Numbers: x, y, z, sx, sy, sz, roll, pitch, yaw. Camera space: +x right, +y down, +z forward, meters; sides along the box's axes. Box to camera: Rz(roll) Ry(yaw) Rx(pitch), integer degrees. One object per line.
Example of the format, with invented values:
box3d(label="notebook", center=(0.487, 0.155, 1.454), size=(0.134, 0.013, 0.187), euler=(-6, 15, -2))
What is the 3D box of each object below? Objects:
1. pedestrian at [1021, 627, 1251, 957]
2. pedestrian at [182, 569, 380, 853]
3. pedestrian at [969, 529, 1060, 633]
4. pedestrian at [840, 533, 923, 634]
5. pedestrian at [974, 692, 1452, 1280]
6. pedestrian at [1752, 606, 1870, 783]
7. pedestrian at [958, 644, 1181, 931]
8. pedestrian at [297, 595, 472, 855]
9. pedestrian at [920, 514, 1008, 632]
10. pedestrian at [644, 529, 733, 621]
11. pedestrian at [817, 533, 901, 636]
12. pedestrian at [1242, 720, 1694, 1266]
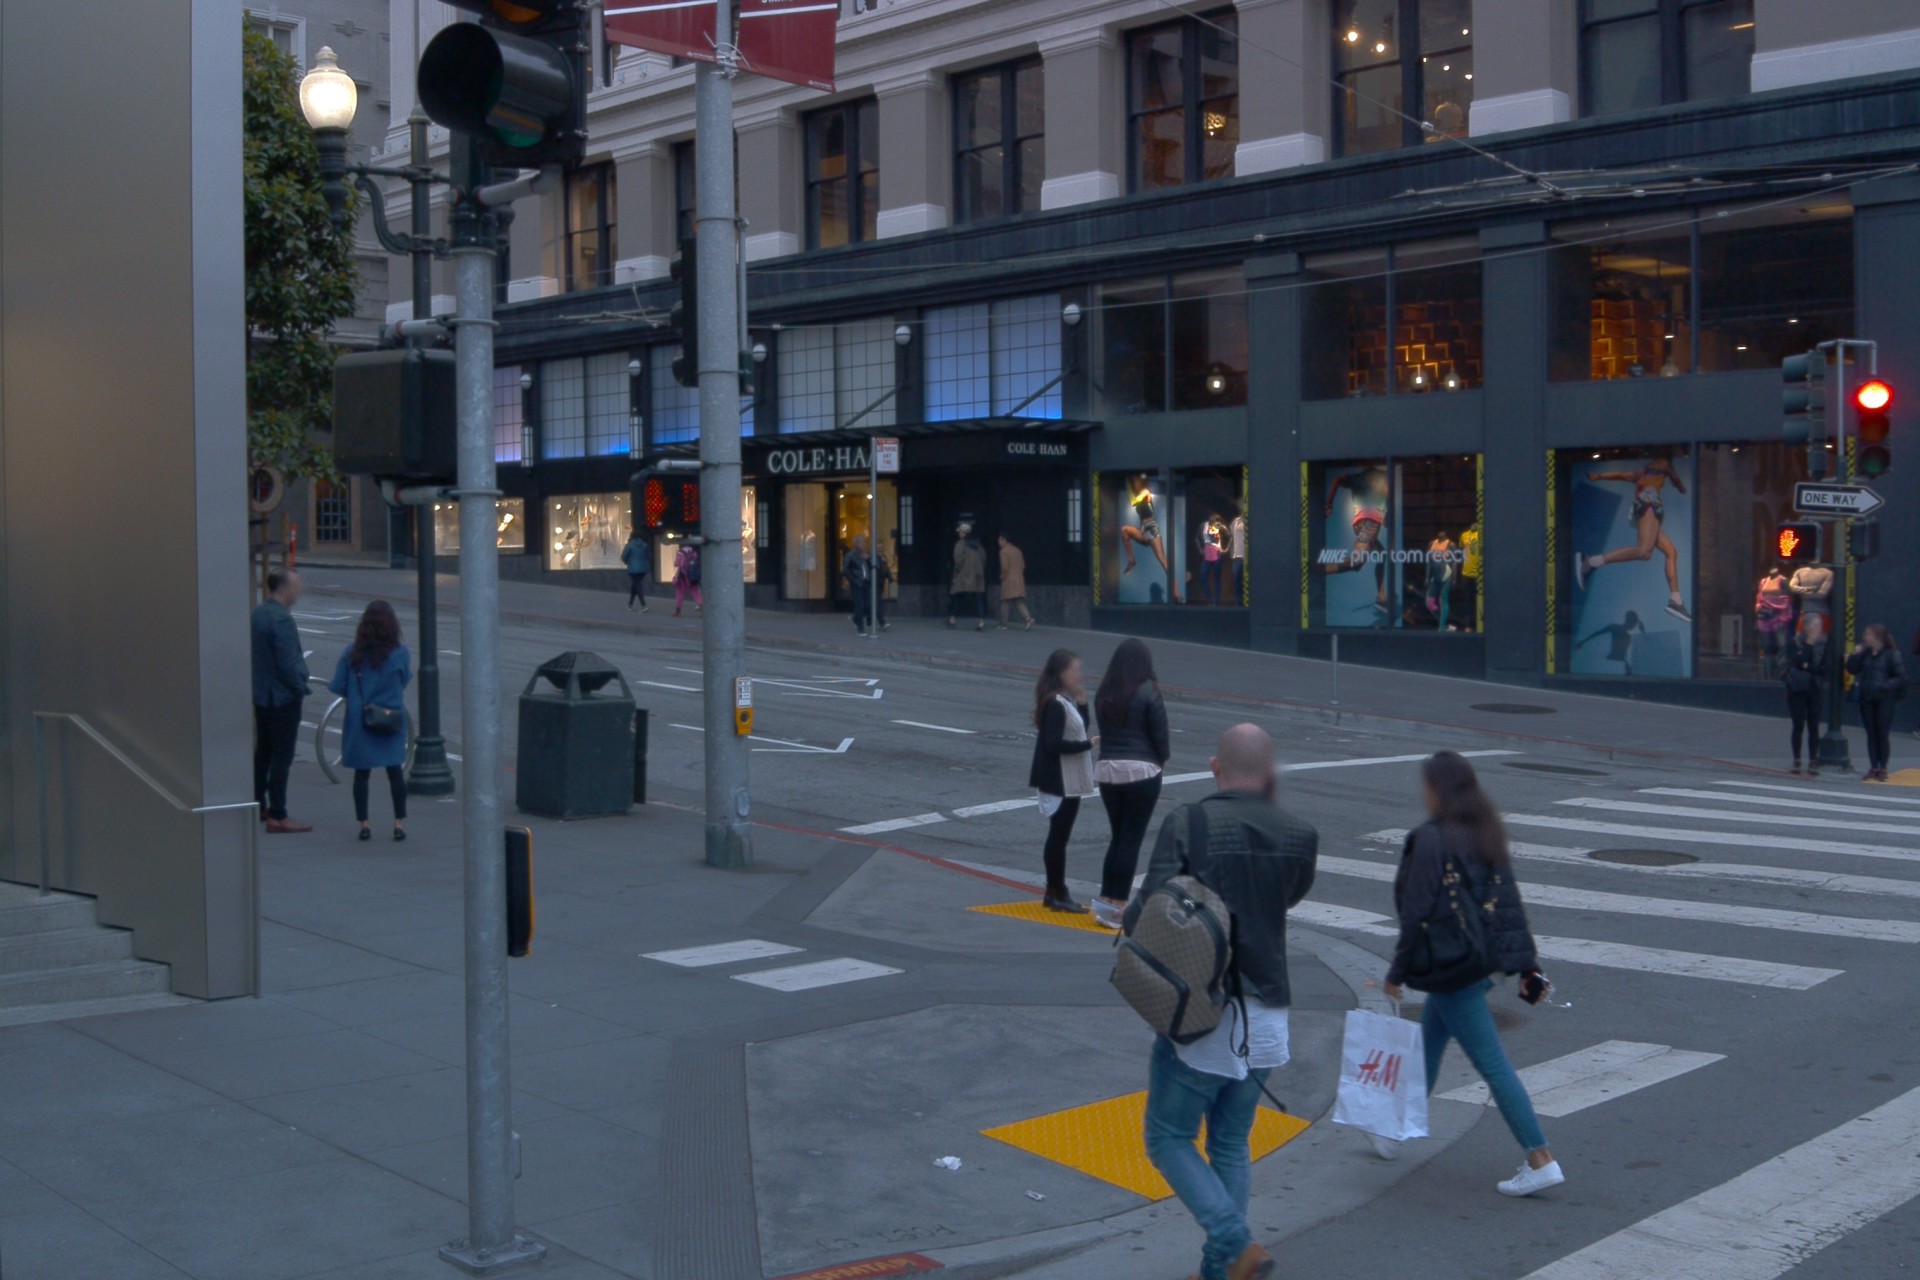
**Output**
box3d(label="pedestrian", center=(1.061, 0.868, 12.407), size=(1.113, 1.890, 0.813), euler=(0, 1, -32))
box3d(label="pedestrian", center=(-4.896, 0.482, 14.797), size=(0.981, 1.960, 0.939), euler=(1, 1, 29))
box3d(label="pedestrian", center=(0.911, -0.978, 34.348), size=(1.053, 1.700, 1.109), euler=(0, 1, -40))
box3d(label="pedestrian", center=(-1.309, -0.929, 34.110), size=(0.891, 1.650, 1.047), euler=(-1, 1, -45))
box3d(label="pedestrian", center=(0.691, 1.089, 5.928), size=(0.930, 1.820, 1.123), euler=(0, 1, -23))
box3d(label="pedestrian", center=(8.945, 0.542, 21.527), size=(0.895, 1.800, 1.088), euler=(1, 1, 36))
box3d(label="pedestrian", center=(0.694, 0.892, 13.077), size=(1.003, 1.710, 0.997), euler=(0, 1, -39))
box3d(label="pedestrian", center=(-4.034, 0.562, 14.350), size=(0.951, 1.750, 0.801), euler=(0, 1, -37))
box3d(label="pedestrian", center=(0.061, -1.100, 34.121), size=(0.963, 1.920, 1.104), euler=(0, 1, -43))
box3d(label="pedestrian", center=(-5.059, -1.199, 38.184), size=(1.183, 1.690, 1.127), euler=(1, 1, 37))
box3d(label="pedestrian", center=(-1.652, -0.904, 33.561), size=(1.047, 1.650, 0.891), euler=(1, 1, 45))
box3d(label="pedestrian", center=(1.805, 1.149, 7.276), size=(1.097, 1.640, 1.174), euler=(1, 1, 45))
